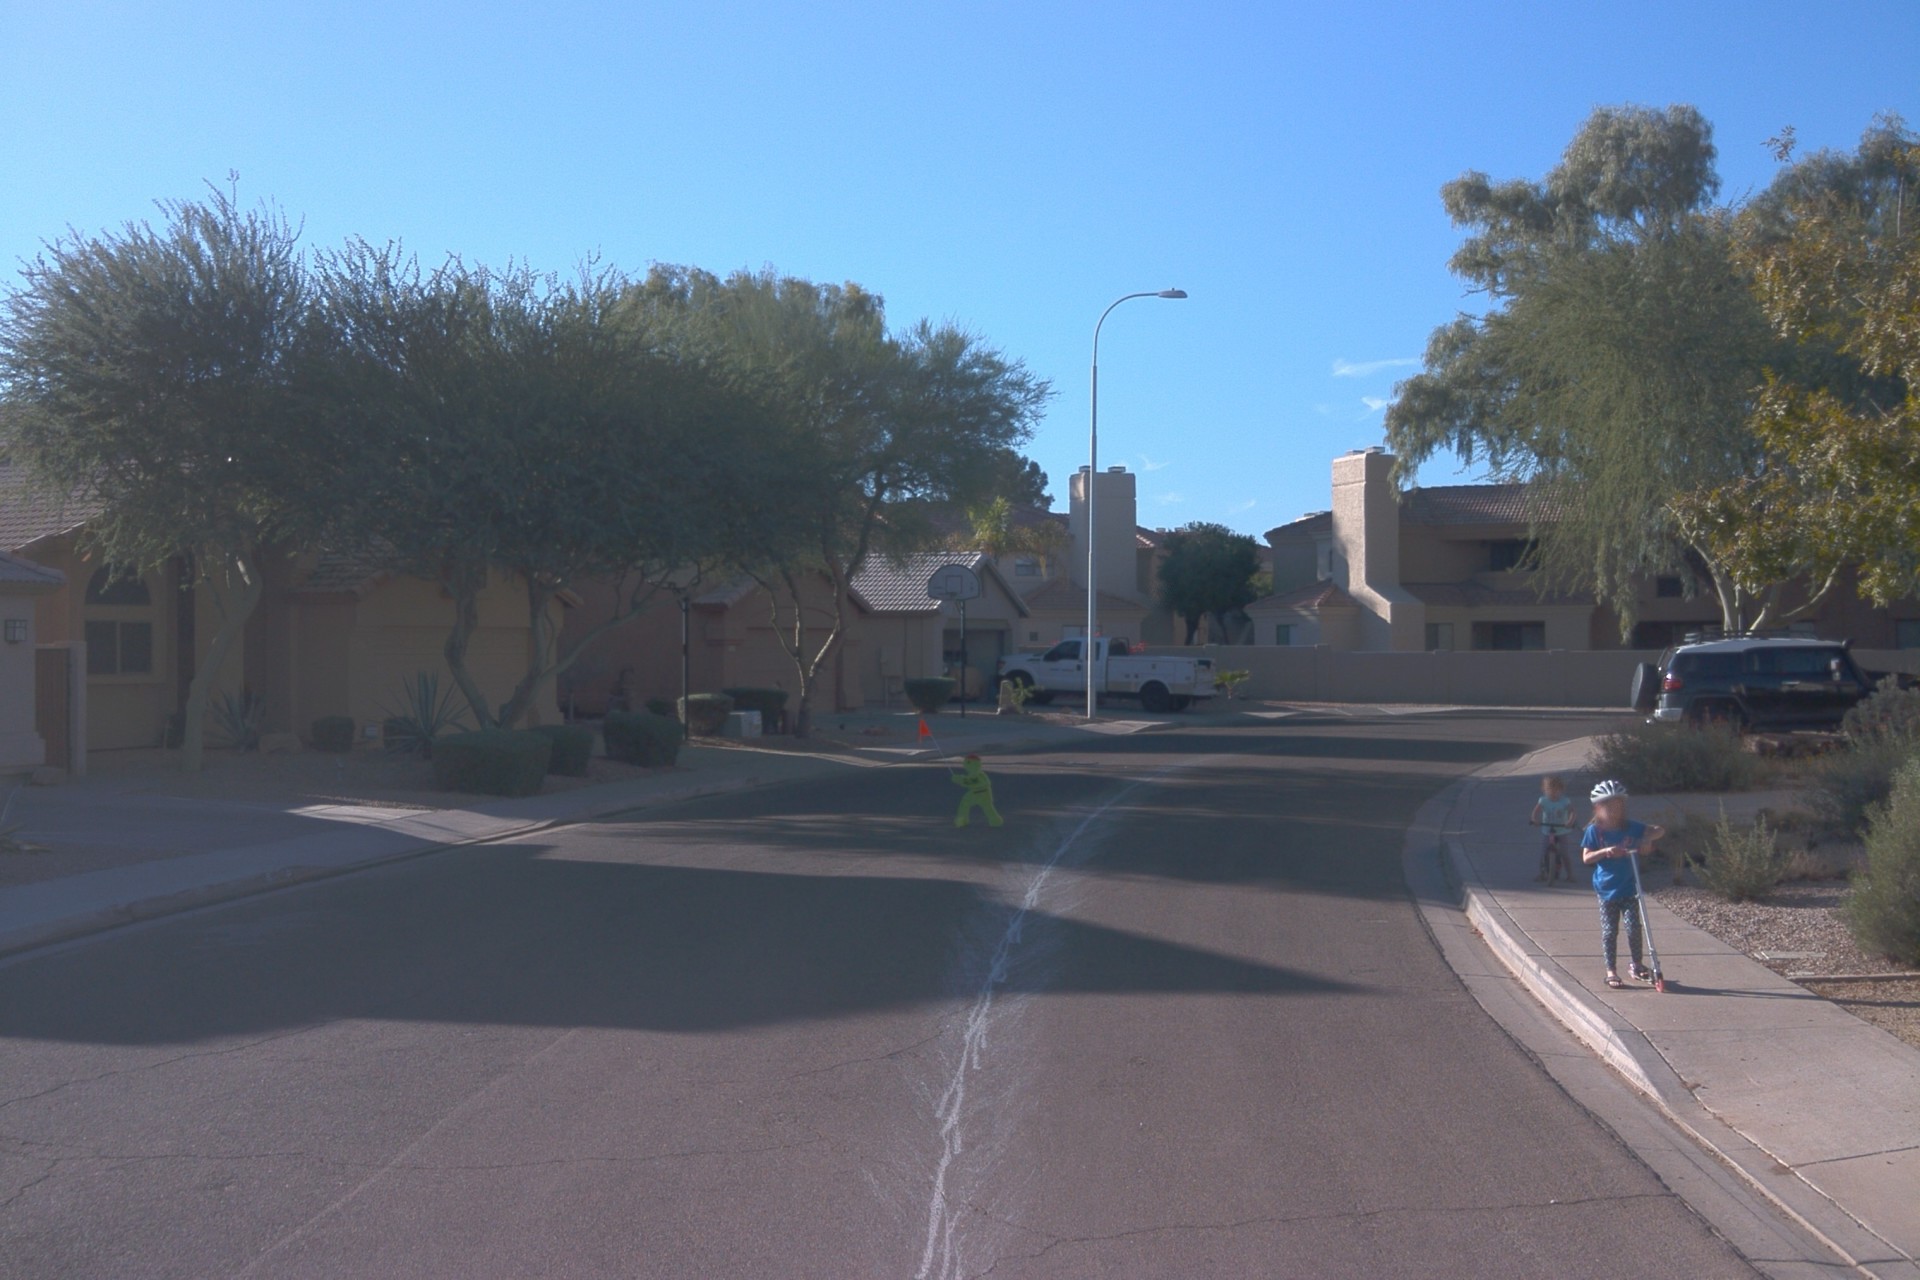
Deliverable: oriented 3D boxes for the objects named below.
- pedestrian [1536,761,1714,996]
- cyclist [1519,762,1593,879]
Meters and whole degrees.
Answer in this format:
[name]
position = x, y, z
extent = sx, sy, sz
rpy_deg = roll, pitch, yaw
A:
[pedestrian]
position = 3.851, 1.355, 12.112
extent = 0.543, 1.230, 1.166
rpy_deg = 0, 0, -7
[cyclist]
position = 4.916, 1.478, 17.184
extent = 0.535, 0.890, 0.819
rpy_deg = 0, 0, 12
